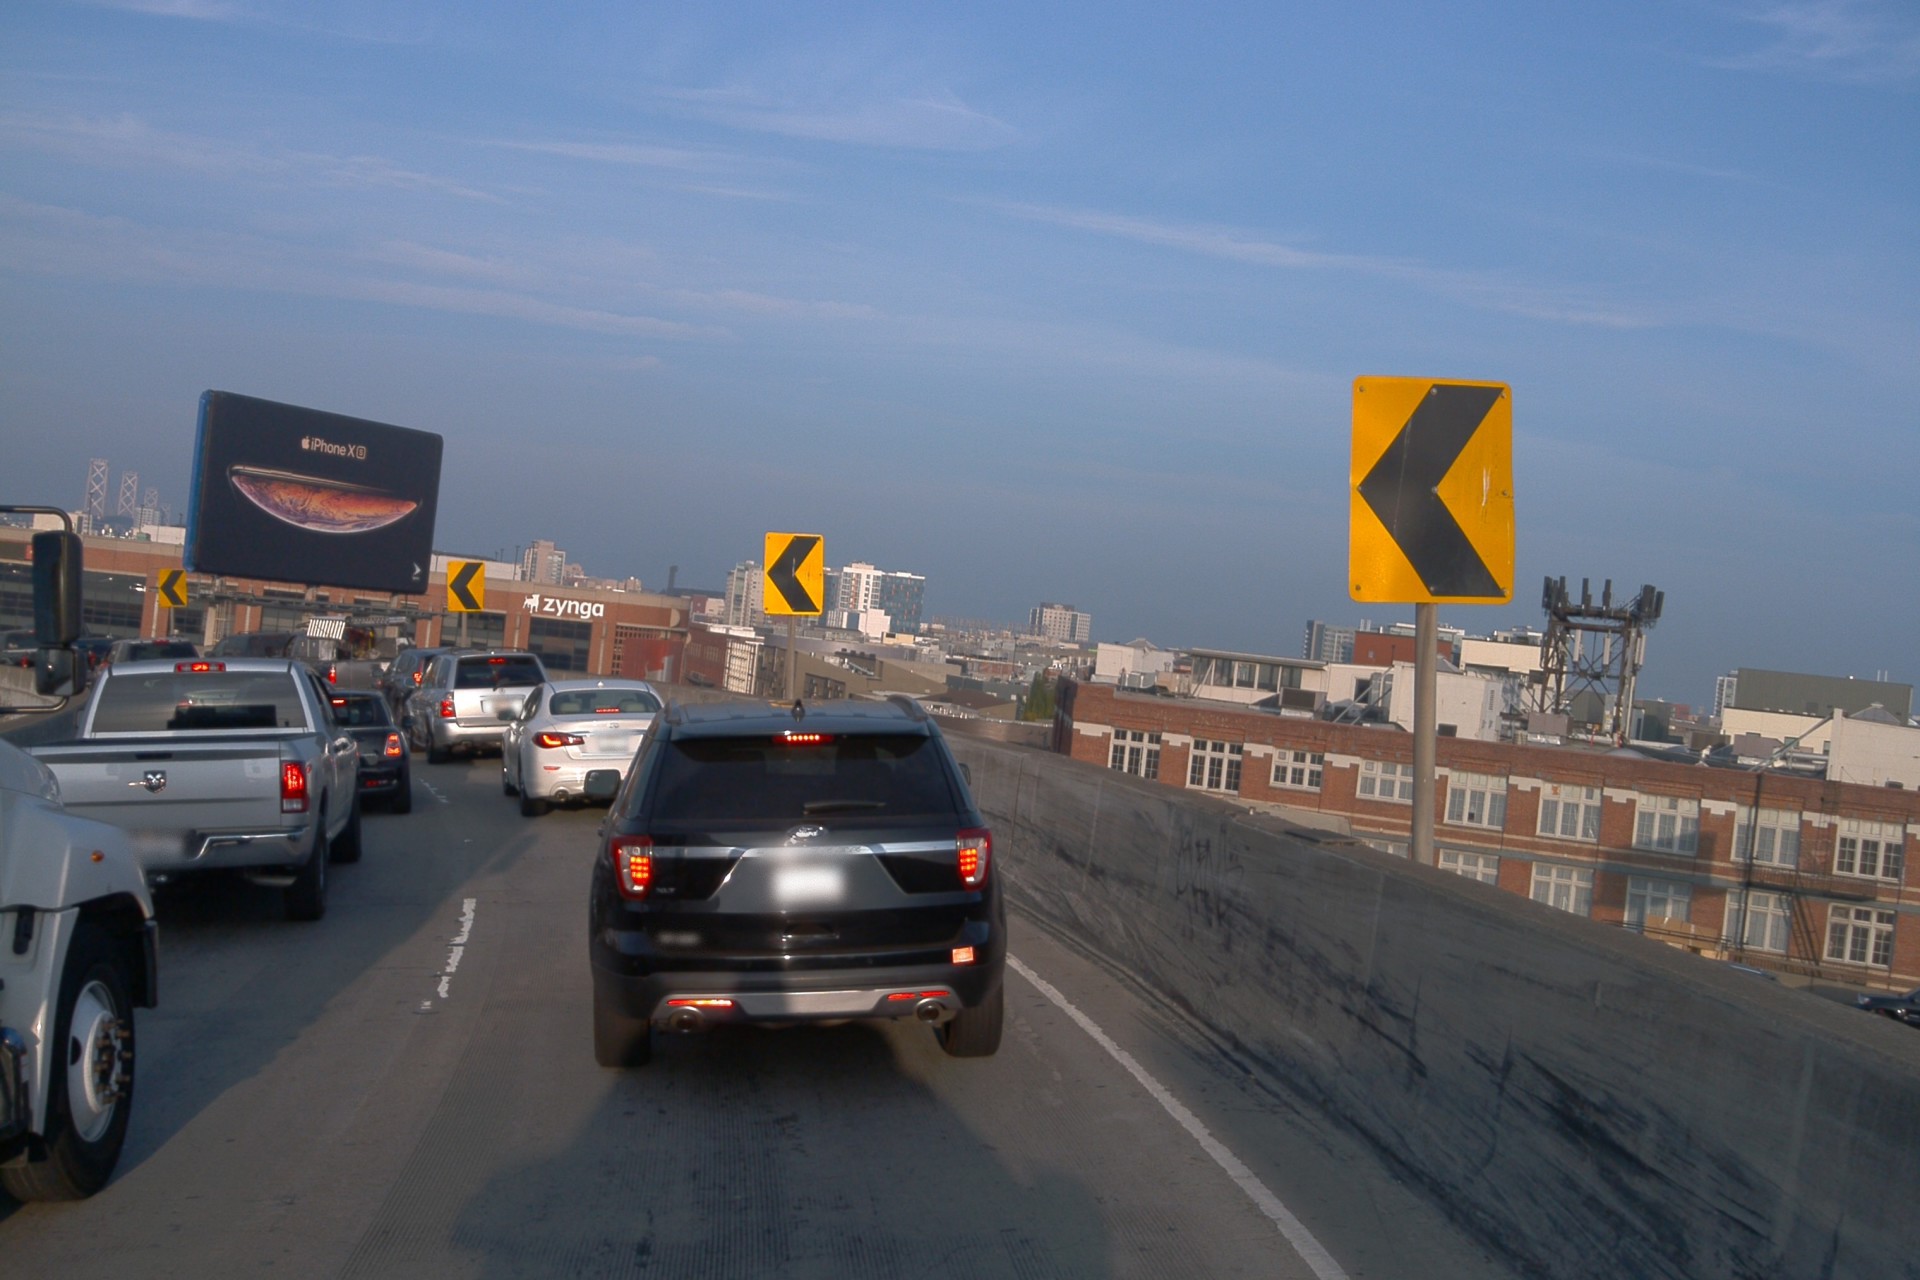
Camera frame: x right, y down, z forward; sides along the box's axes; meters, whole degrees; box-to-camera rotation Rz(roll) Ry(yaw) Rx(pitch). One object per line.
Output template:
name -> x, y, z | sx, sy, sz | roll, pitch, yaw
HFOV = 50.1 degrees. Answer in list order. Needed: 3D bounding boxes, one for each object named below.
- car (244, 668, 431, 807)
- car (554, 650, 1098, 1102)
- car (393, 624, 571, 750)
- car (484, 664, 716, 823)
car -> -7.253, 1.080, 24.216 | 1.934, 1.411, 4.084 | 0, 0, -15
car -> -0.941, 1.001, 11.199 | 2.327, 1.850, 4.876 | 0, 0, -9
car -> -7.576, 0.677, 32.246 | 1.992, 1.820, 4.393 | 0, 0, -23
car -> -4.311, 1.114, 23.992 | 2.144, 1.590, 4.509 | 0, 0, -17
